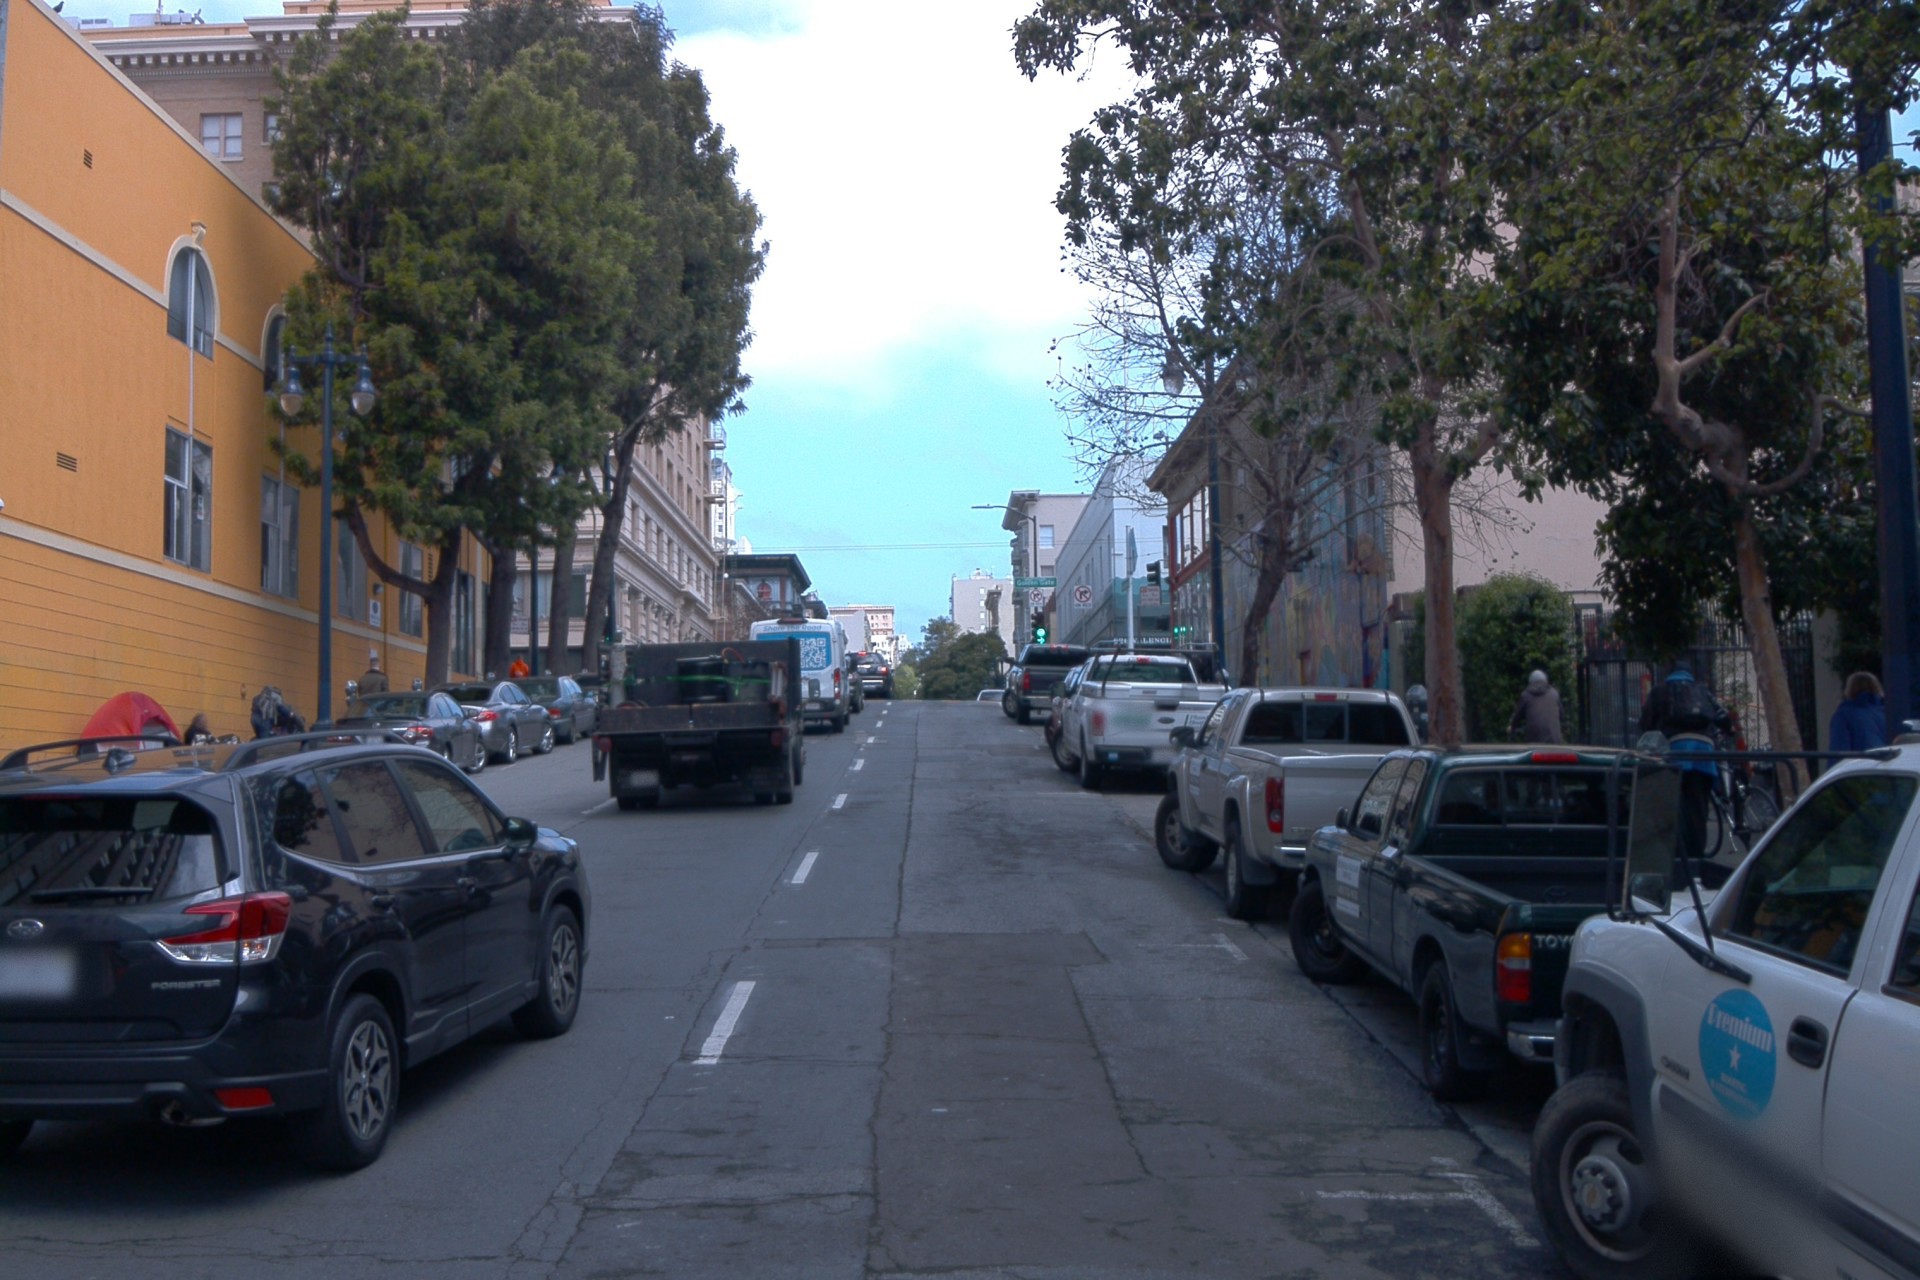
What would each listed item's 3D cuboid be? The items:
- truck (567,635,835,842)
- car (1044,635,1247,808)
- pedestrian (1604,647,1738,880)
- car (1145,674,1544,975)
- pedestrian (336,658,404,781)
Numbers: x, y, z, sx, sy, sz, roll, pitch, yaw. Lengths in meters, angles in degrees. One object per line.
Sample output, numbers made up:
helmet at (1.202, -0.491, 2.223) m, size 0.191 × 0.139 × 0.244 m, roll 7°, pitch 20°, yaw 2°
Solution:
truck at (-3.204, 1.140, 27.027) m, size 2.773 × 2.330 × 6.297 m, roll 0°, pitch 1°, yaw 0°
car at (2.544, 1.068, 29.667) m, size 2.130 × 2.200 × 5.416 m, roll 0°, pitch 1°, yaw -3°
pedestrian at (5.747, 0.977, 16.661) m, size 0.775 × 1.820 × 0.919 m, roll 0°, pitch 1°, yaw 2°
car at (2.894, 1.318, 16.745) m, size 2.035 × 1.920 × 5.022 m, roll 0°, pitch 1°, yaw -3°
pedestrian at (-10.107, 1.345, 35.235) m, size 0.992 × 2.050 × 0.876 m, roll 0°, pitch 1°, yaw -7°
